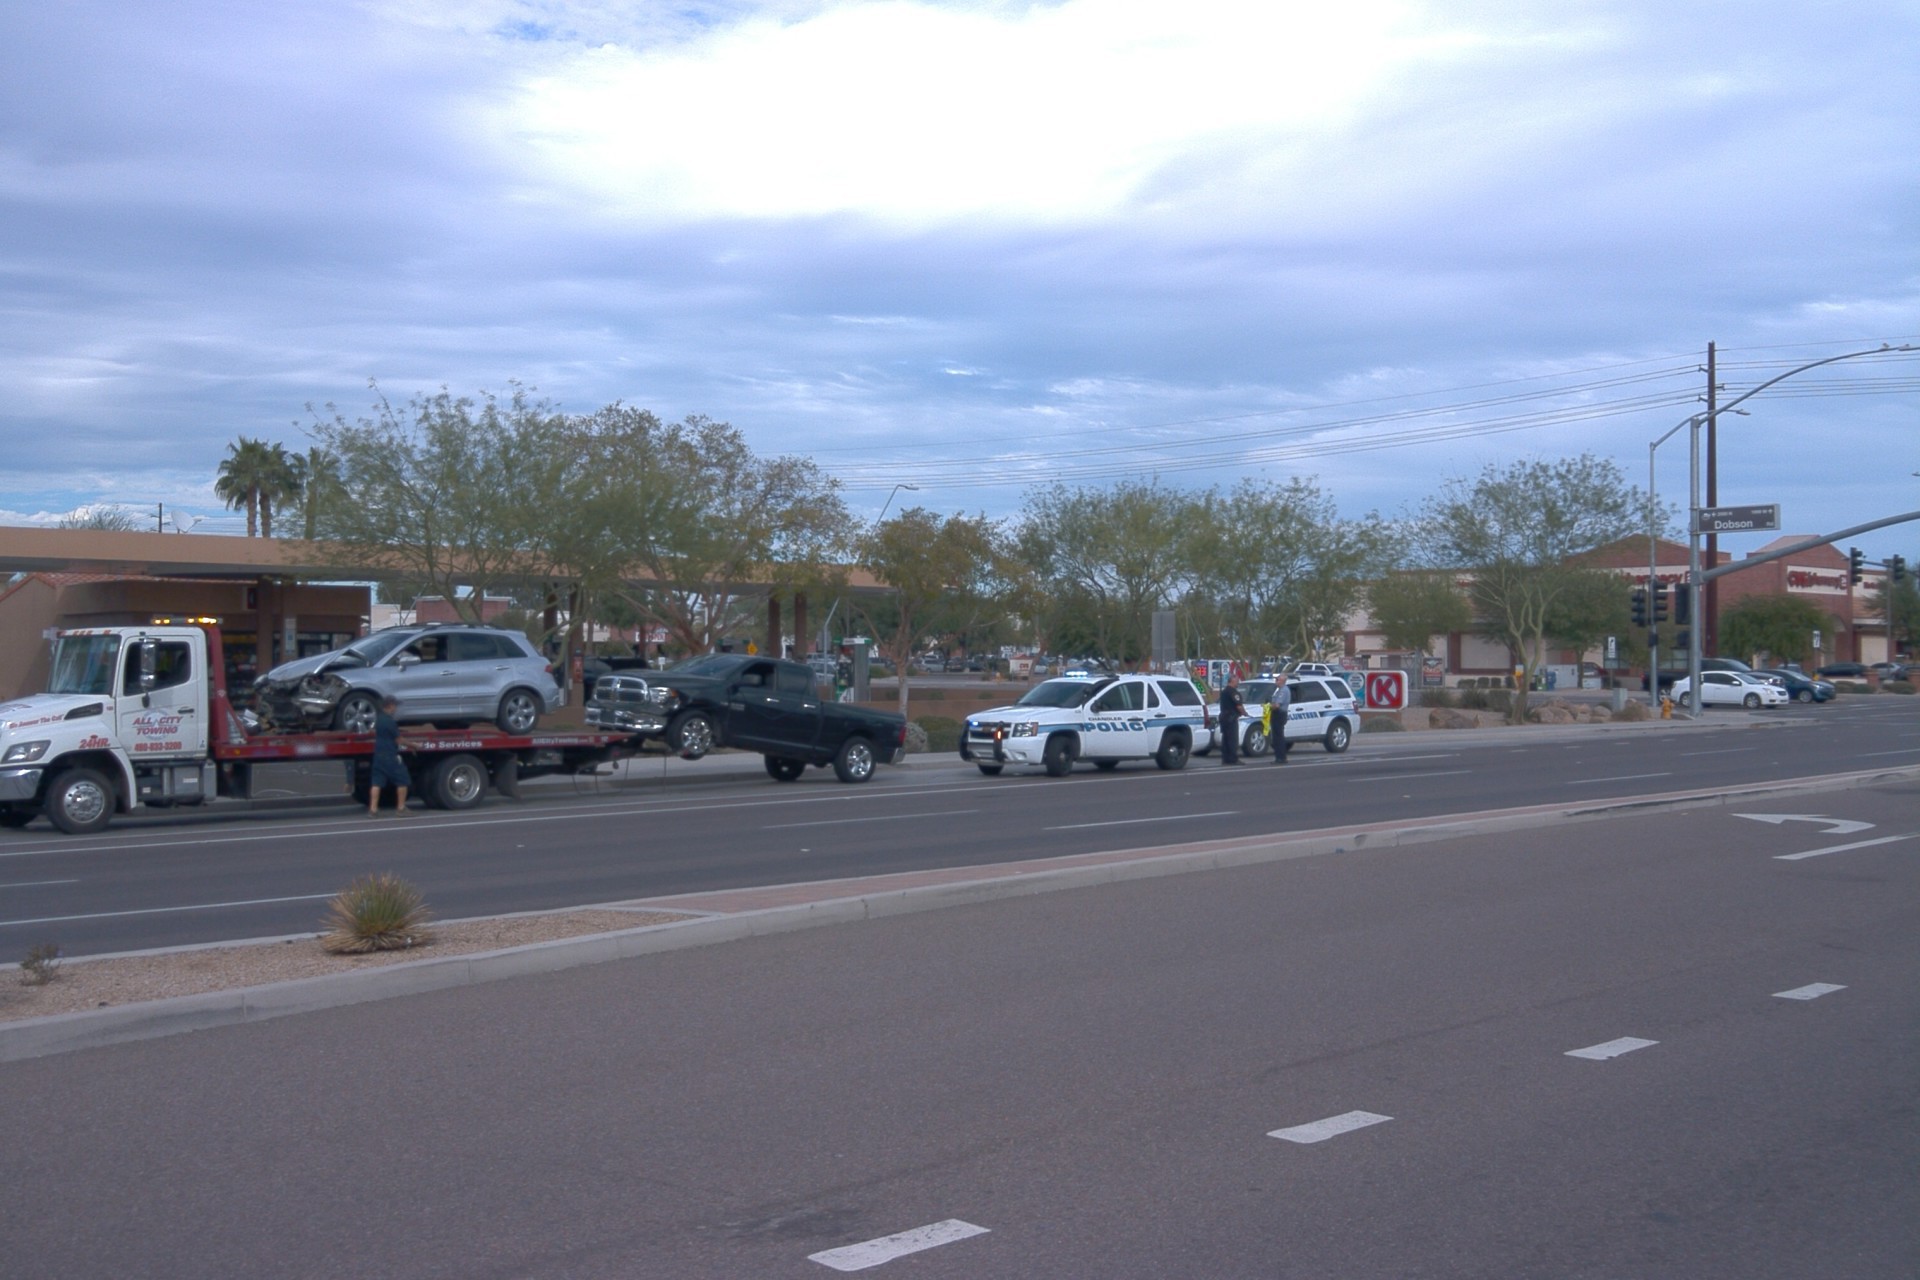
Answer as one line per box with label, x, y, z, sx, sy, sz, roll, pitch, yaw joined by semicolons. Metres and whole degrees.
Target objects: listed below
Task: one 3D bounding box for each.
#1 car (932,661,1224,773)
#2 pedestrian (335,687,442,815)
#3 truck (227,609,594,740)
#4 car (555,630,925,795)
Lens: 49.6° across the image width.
car;2.264;1.366;38.588;5.441;1.900;2.232;1;0;-43
pedestrian;-7.714;1.481;28.084;0.927;1.650;1.015;1;0;41
truck;-7.925;0.480;30.340;2.096;1.750;4.766;1;0;42
car;-3.570;1.140;34.910;2.540;2.510;5.971;1;0;42
